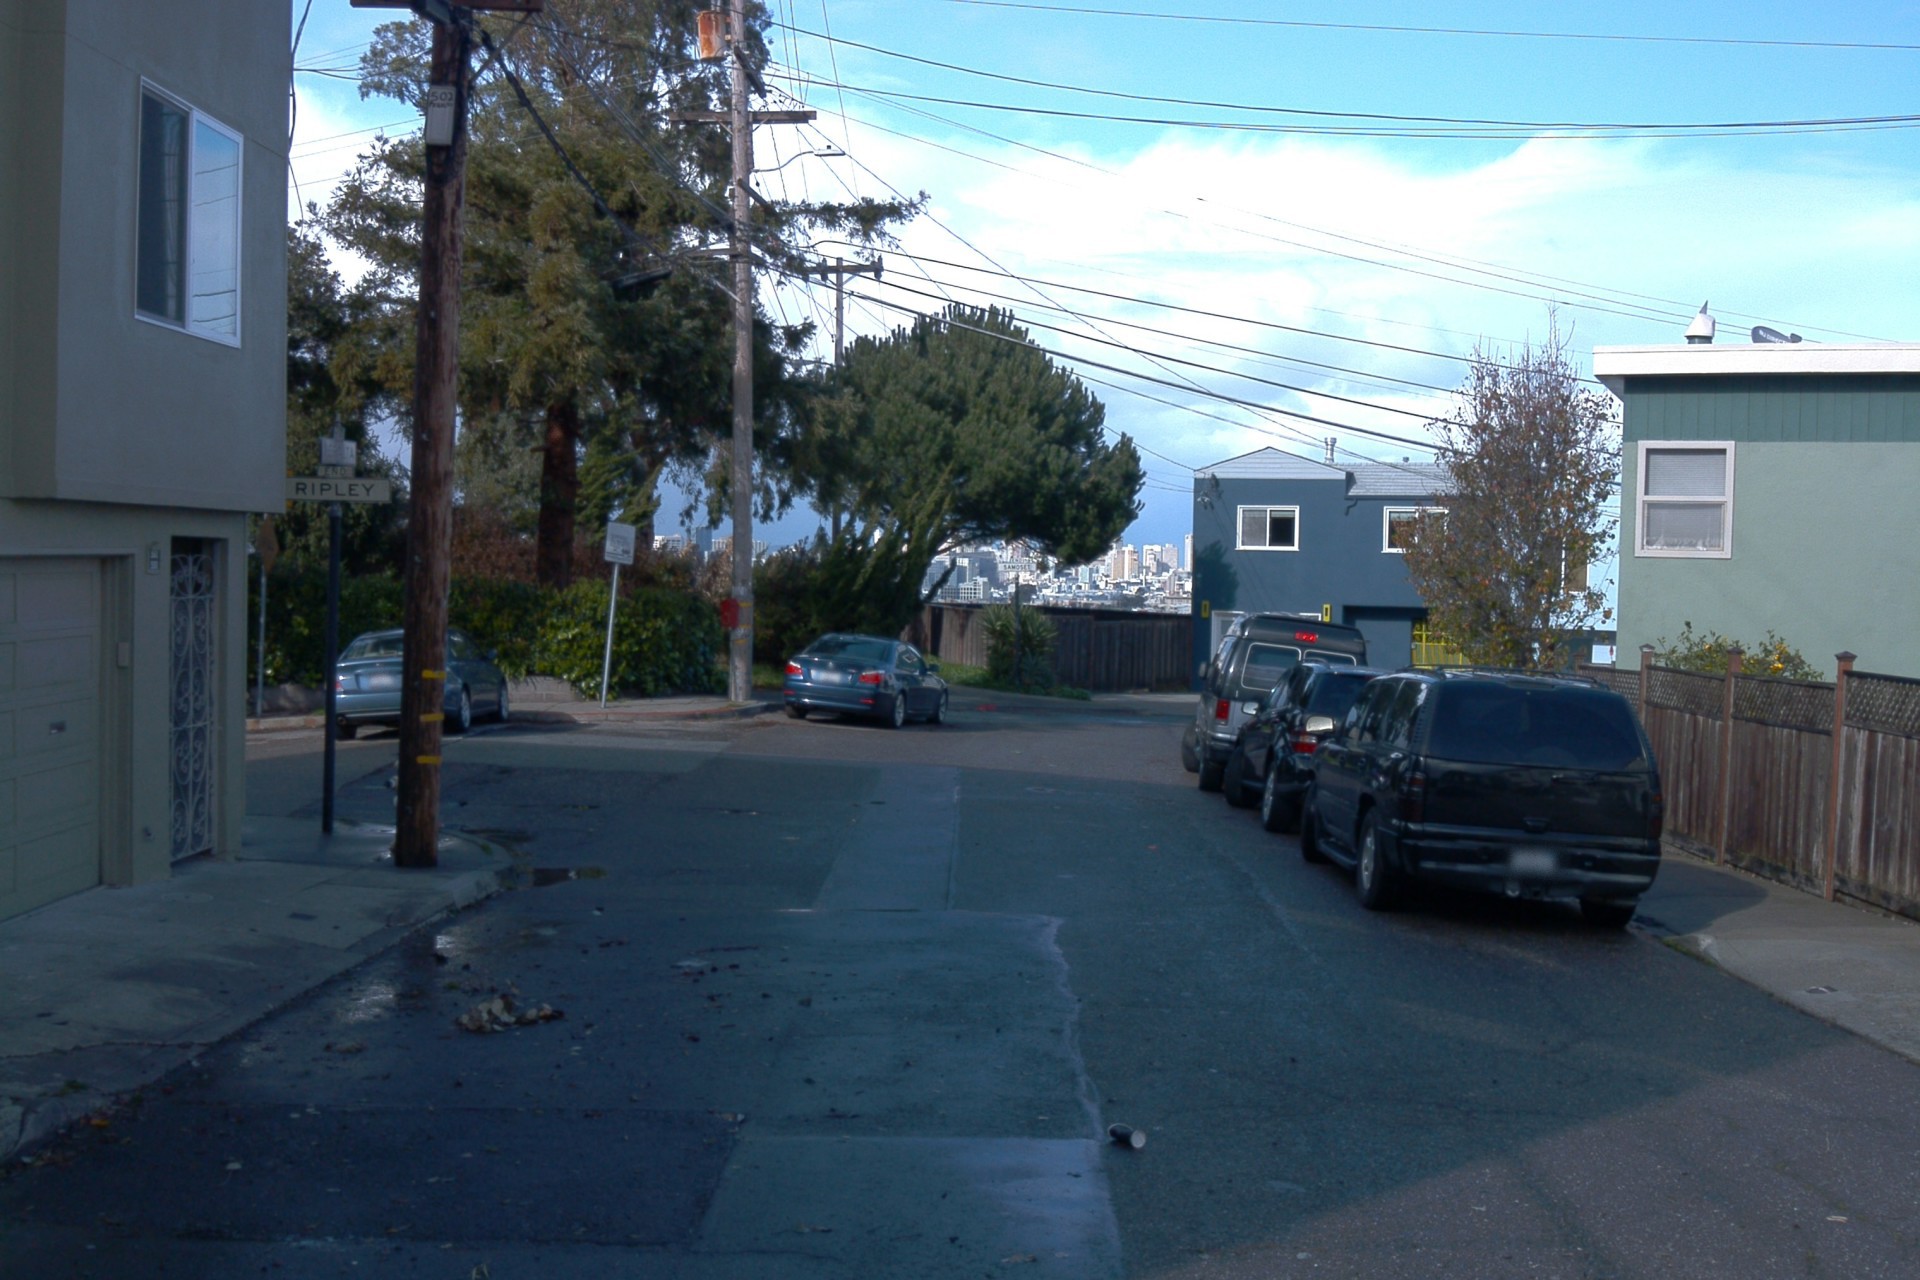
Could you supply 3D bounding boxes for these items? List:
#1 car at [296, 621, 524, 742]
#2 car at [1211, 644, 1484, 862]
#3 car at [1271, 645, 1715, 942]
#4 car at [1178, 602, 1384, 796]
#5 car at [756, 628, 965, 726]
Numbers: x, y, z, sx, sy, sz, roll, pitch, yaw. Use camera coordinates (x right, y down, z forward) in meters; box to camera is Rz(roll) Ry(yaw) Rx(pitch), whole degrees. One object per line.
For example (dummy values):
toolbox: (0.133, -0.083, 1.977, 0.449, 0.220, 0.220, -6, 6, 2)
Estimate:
car: (-7.347, 0.499, 27.933, 1.906, 1.450, 4.515, 1, 1, -1)
car: (4.000, 1.088, 22.047, 2.071, 1.960, 4.716, 1, 1, 1)
car: (4.002, 1.045, 16.526, 2.280, 1.880, 5.115, 1, 1, 1)
car: (4.152, 0.665, 27.507, 2.287, 2.280, 5.497, 1, 1, 5)
car: (-1.526, 0.545, 33.702, 2.158, 1.430, 4.595, 1, 1, 14)
